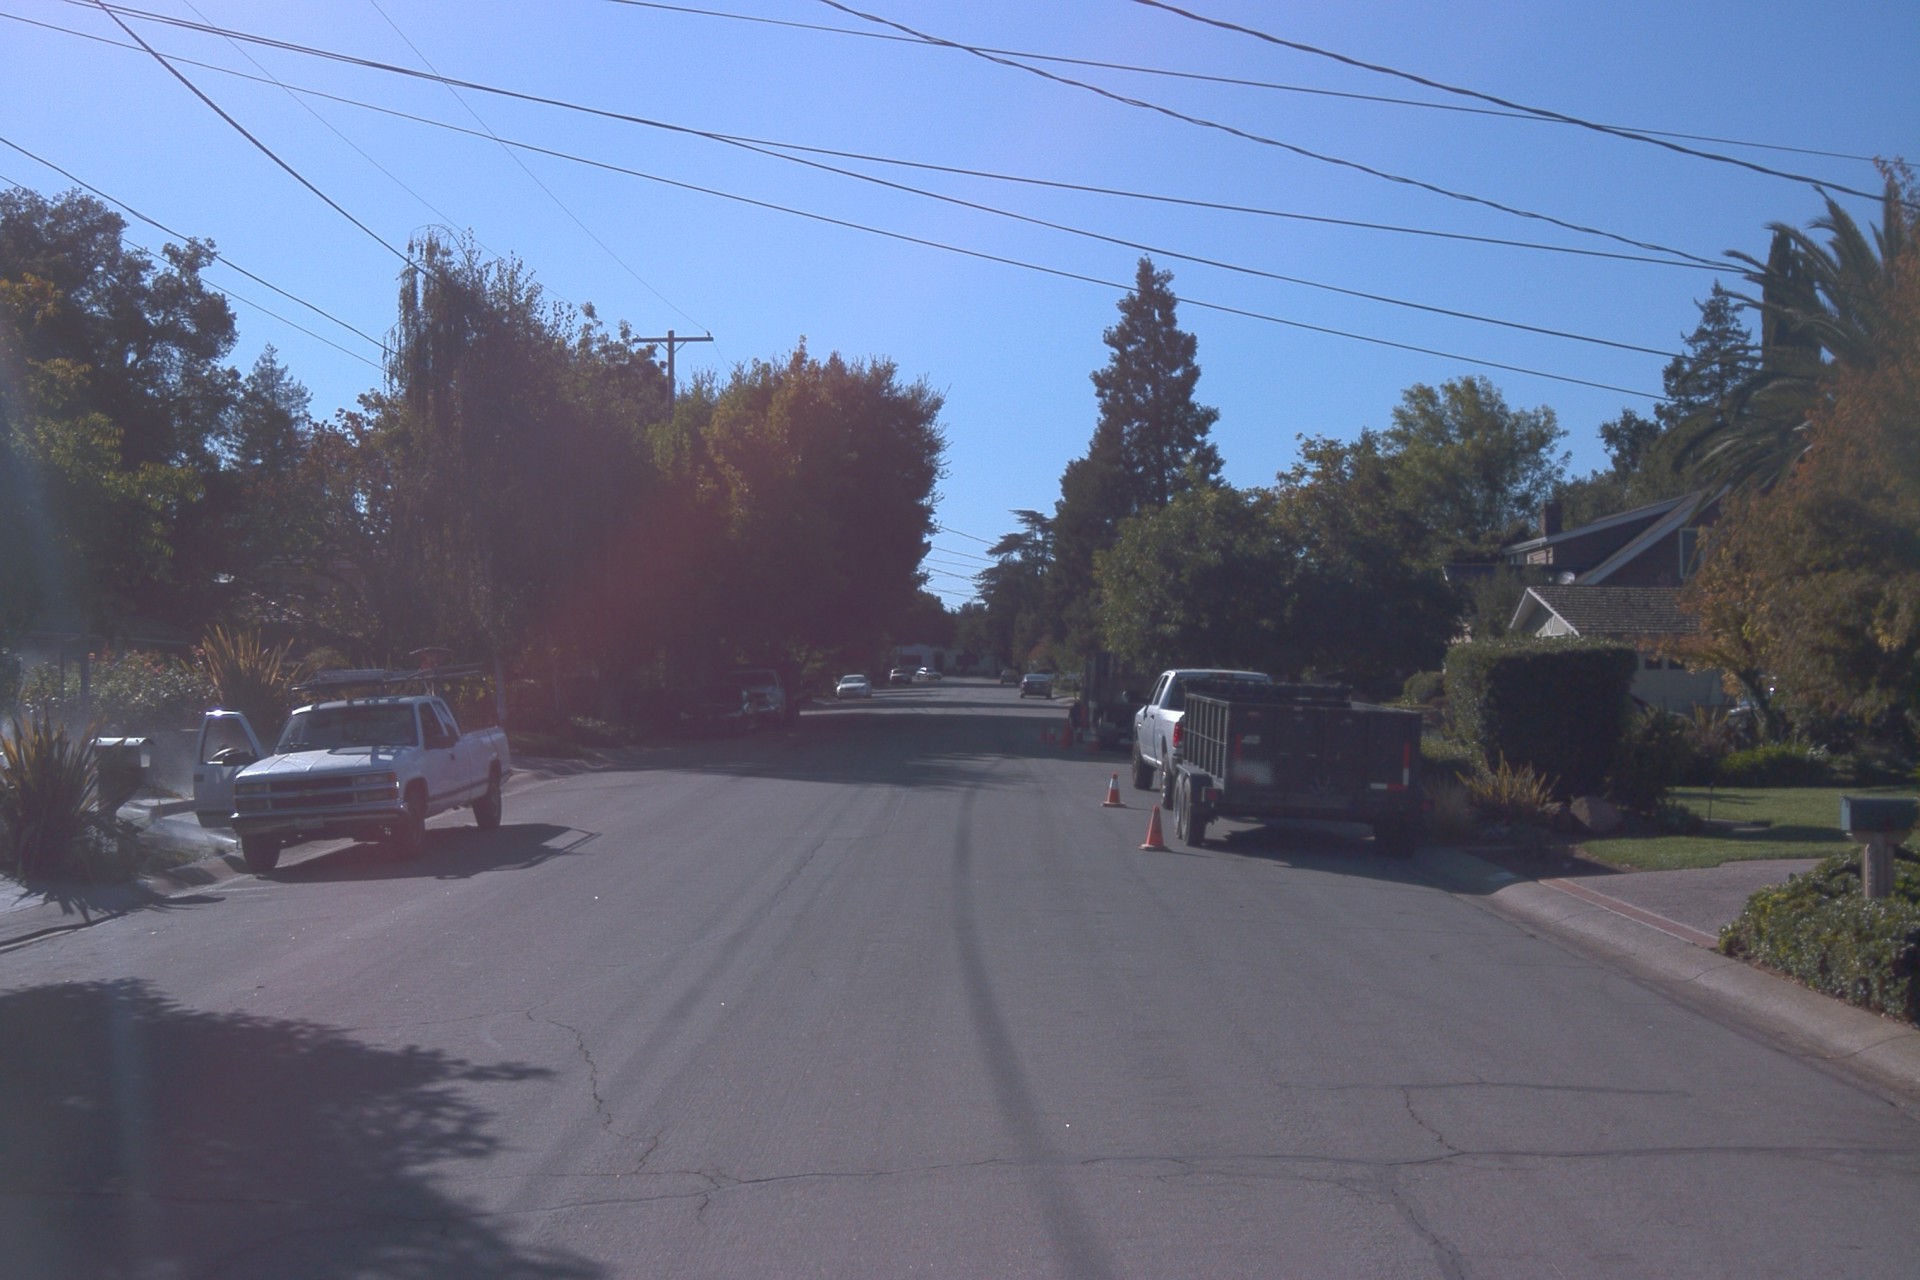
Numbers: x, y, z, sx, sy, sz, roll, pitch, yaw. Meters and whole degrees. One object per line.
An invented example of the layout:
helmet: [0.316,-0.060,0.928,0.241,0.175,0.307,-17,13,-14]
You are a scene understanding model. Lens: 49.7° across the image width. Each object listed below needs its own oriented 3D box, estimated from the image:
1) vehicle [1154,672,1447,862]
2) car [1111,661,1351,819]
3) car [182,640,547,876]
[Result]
vehicle: [3.914,1.406,24.939,2.722,2.020,5.259,0,-1,1]
car: [3.940,1.398,31.561,2.702,2.160,6.634,0,-1,-1]
car: [-6.963,1.284,25.184,2.573,2.500,6.407,0,-1,0]
